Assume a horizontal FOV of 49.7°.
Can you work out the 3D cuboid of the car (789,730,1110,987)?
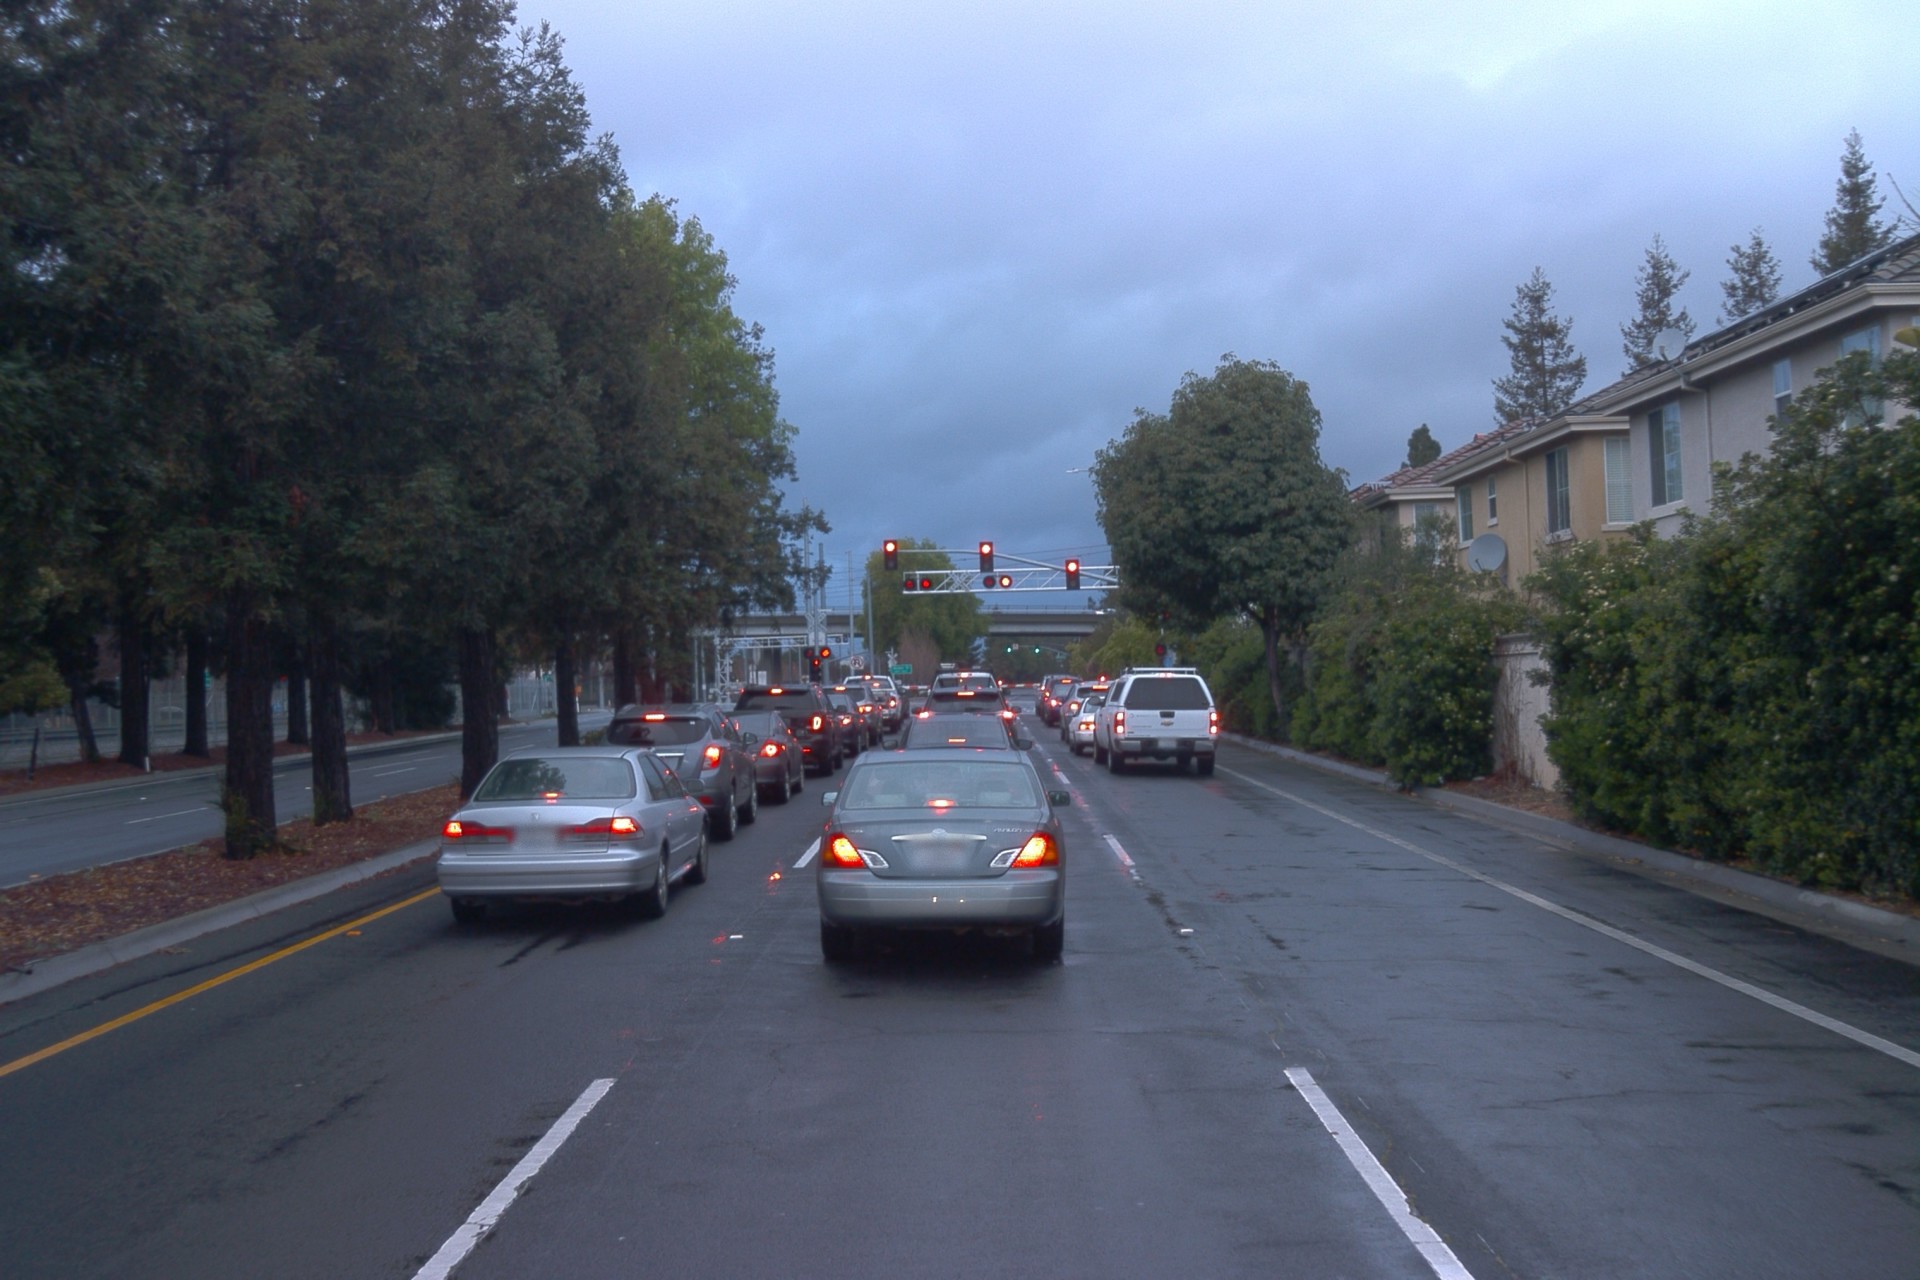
[{"bbox_3d":[-0.095,1.534,15.946,2.105,1.550,4.676,0,-1,-1],"label":"car"}]

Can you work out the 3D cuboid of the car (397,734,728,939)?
[{"bbox_3d":[-3.400,1.657,18.675,2.021,1.480,4.541,0,-1,1],"label":"car"}]

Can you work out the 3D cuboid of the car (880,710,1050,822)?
[{"bbox_3d":[0.010,1.623,27.739,2.081,1.290,4.552,0,-1,-1],"label":"car"}]

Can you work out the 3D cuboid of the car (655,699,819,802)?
[{"bbox_3d":[-3.455,1.698,32.942,2.021,1.460,4.541,0,-1,1],"label":"car"}]

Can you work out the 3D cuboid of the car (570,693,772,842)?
[{"bbox_3d":[-3.584,1.548,26.417,1.936,1.700,4.080,0,-1,1],"label":"car"}]
